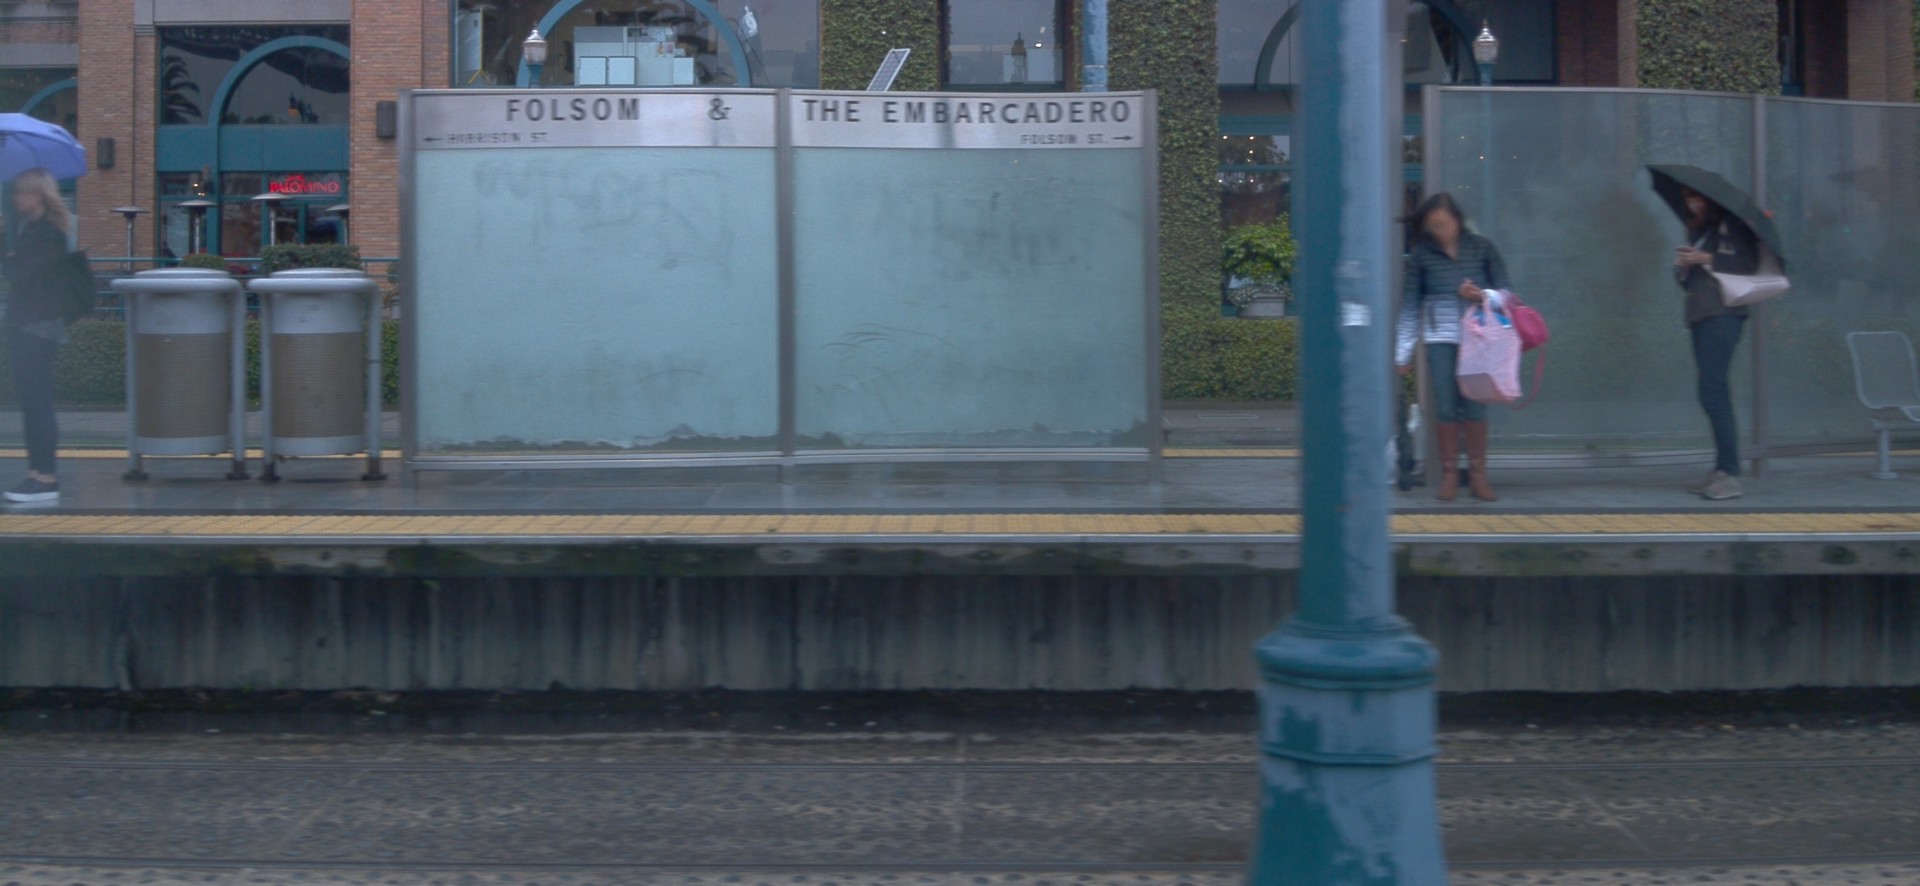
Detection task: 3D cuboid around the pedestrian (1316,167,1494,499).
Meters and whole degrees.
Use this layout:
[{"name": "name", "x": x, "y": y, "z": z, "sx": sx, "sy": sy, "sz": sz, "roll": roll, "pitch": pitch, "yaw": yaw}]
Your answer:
[{"name": "pedestrian", "x": 2.408, "y": -0.619, "z": 11.275, "sx": 0.712, "sy": 1.740, "sz": 0.727, "roll": 0, "pitch": 1, "yaw": -11}]

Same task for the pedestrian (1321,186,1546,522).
[{"name": "pedestrian", "x": 2.406, "y": -0.488, "z": 10.495, "sx": 0.947, "sy": 1.599, "sz": 0.882, "roll": 1, "pitch": 2, "yaw": 25}]

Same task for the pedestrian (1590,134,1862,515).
[{"name": "pedestrian", "x": 3.906, "y": -0.633, "z": 10.664, "sx": 1.047, "sy": 1.866, "sz": 0.956, "roll": 0, "pitch": 1, "yaw": 0}]
